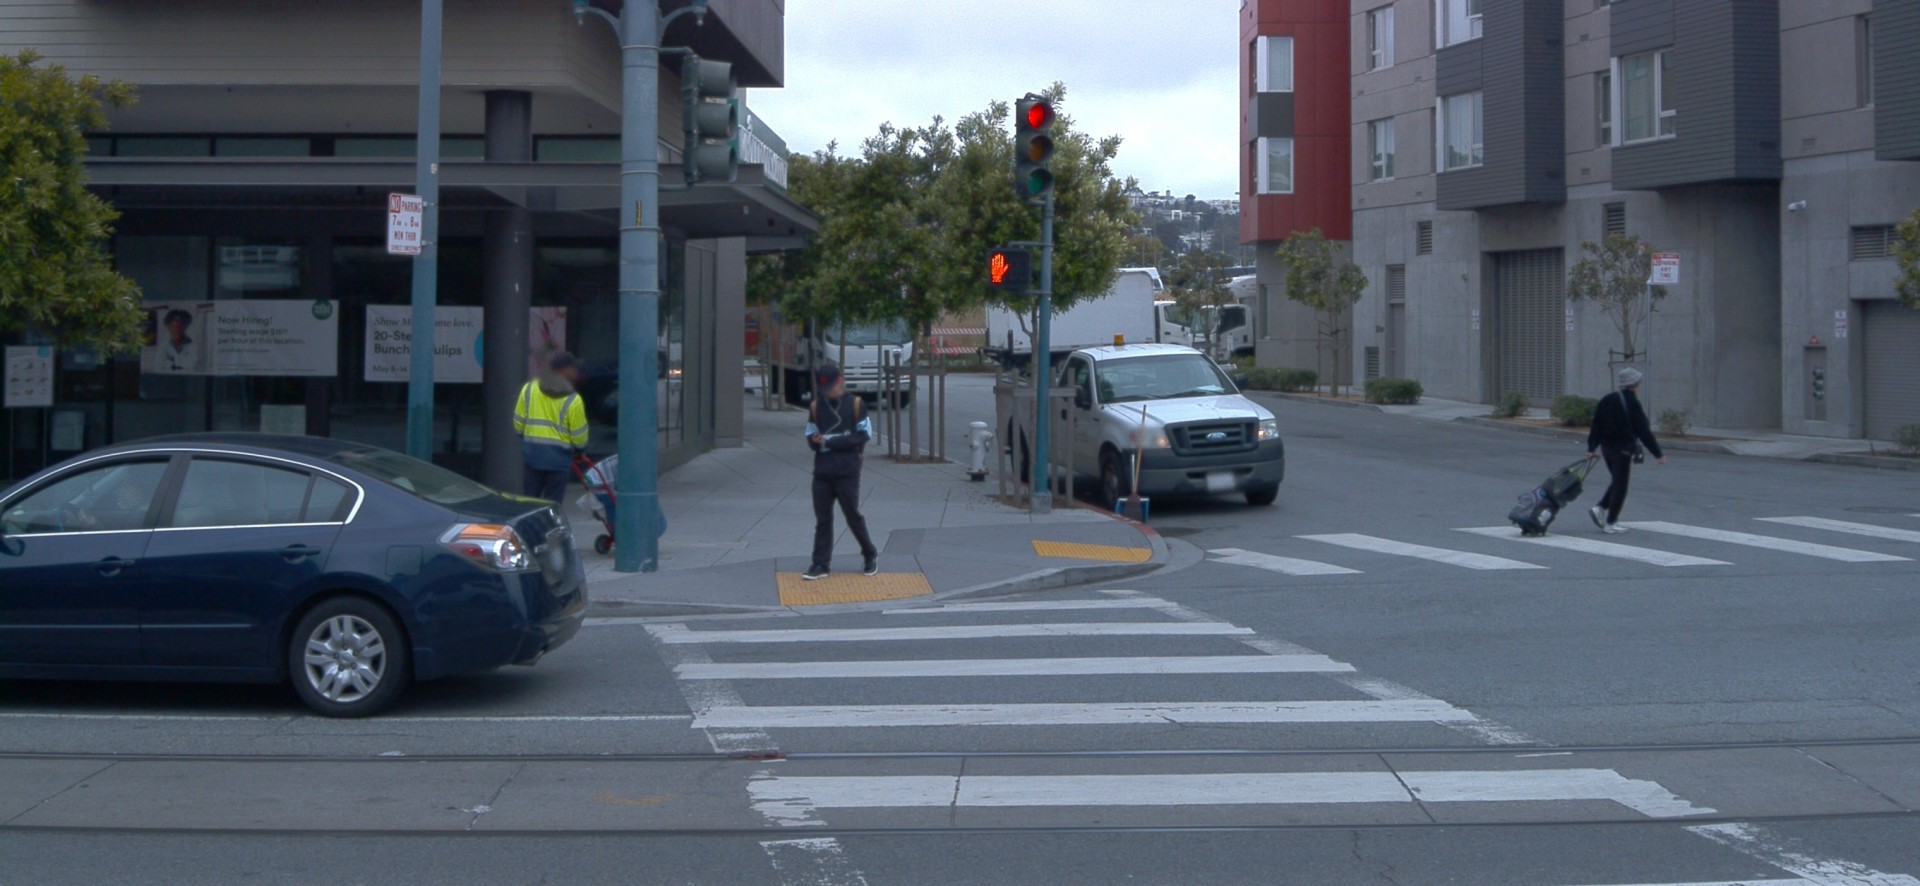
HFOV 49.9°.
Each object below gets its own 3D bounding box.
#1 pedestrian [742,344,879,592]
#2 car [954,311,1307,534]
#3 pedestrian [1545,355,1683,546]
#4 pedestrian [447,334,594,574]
[{"bbox_3d":[-1.211,0.172,16.696,0.717,1.868,0.830,1,3,44],"label":"pedestrian"},{"bbox_3d":[1.871,-0.428,25.279,2.345,2.039,6.087,-1,6,-16],"label":"car"},{"bbox_3d":[6.189,0.049,19.559,0.983,1.687,0.810,-1,2,-11],"label":"pedestrian"},{"bbox_3d":[-3.588,0.065,16.879,0.960,1.867,0.733,0,2,9],"label":"pedestrian"}]
